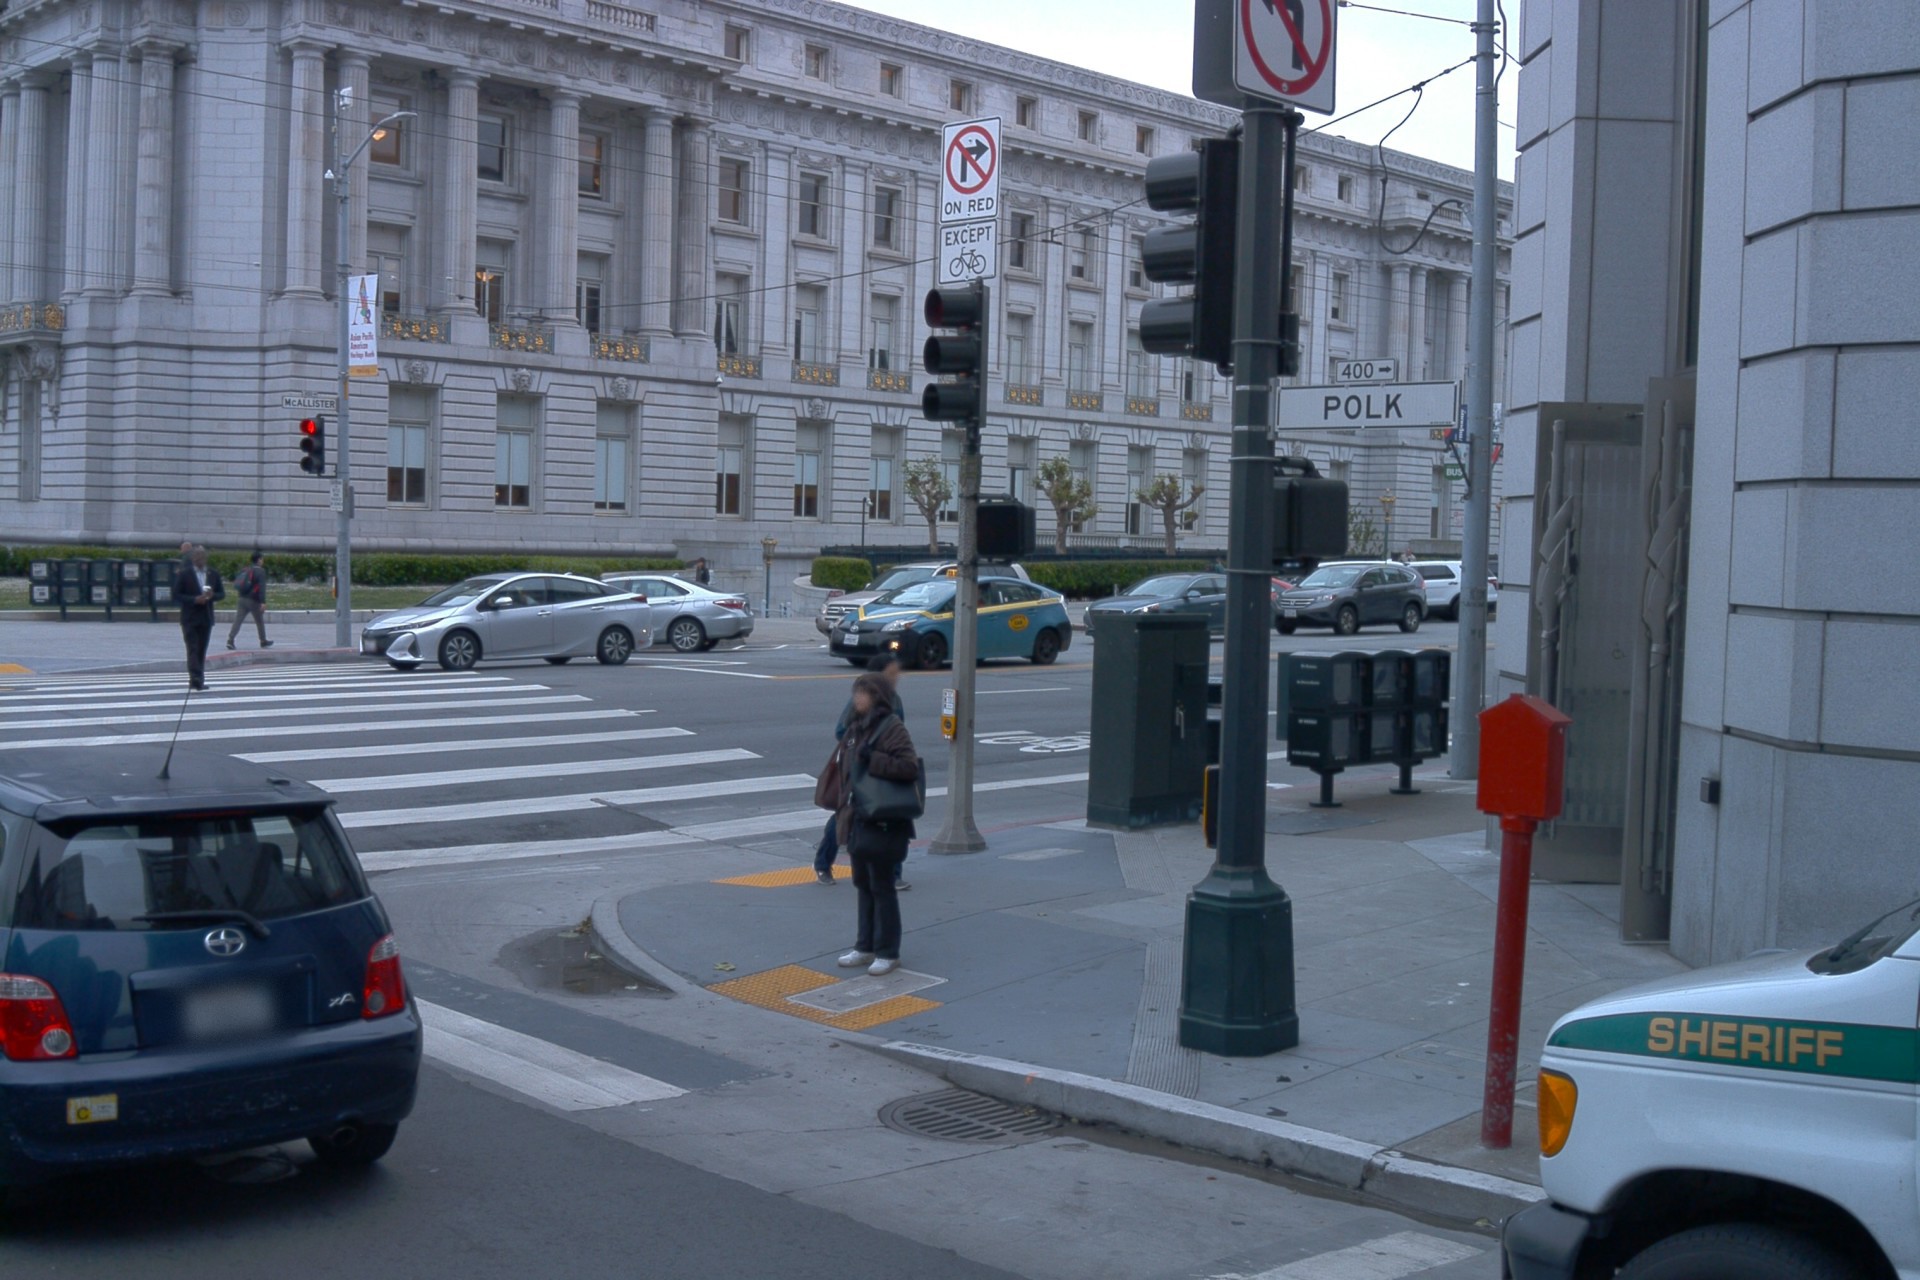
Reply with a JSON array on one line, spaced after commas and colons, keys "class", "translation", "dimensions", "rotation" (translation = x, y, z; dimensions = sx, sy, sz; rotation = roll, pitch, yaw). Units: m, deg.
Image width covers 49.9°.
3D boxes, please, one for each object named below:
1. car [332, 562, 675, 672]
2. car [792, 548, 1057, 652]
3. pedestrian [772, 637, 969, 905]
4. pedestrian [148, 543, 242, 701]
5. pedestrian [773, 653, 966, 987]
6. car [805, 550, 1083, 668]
[{"class": "car", "translation": [-6.882, -0.346, 31.462], "dimensions": [4.666, 1.540, 2.143], "rotation": [-1, 1, -44]}, {"class": "car", "translation": [-0.600, -0.721, 38.496], "dimensions": [2.180, 1.800, 4.766], "rotation": [1, 1, 44]}, {"class": "pedestrian", "translation": [-0.598, 0.830, 13.736], "dimensions": [0.861, 1.690, 1.005], "rotation": [-1, 1, -42]}, {"class": "pedestrian", "translation": [-9.215, -0.219, 24.876], "dimensions": [0.806, 1.850, 0.957], "rotation": [-1, 1, -38]}, {"class": "pedestrian", "translation": [-0.492, 0.933, 11.179], "dimensions": [0.805, 1.710, 0.666], "rotation": [1, 1, 43]}, {"class": "car", "translation": [-0.196, -0.494, 33.426], "dimensions": [2.040, 1.787, 4.328], "rotation": [1, 1, 44]}]
